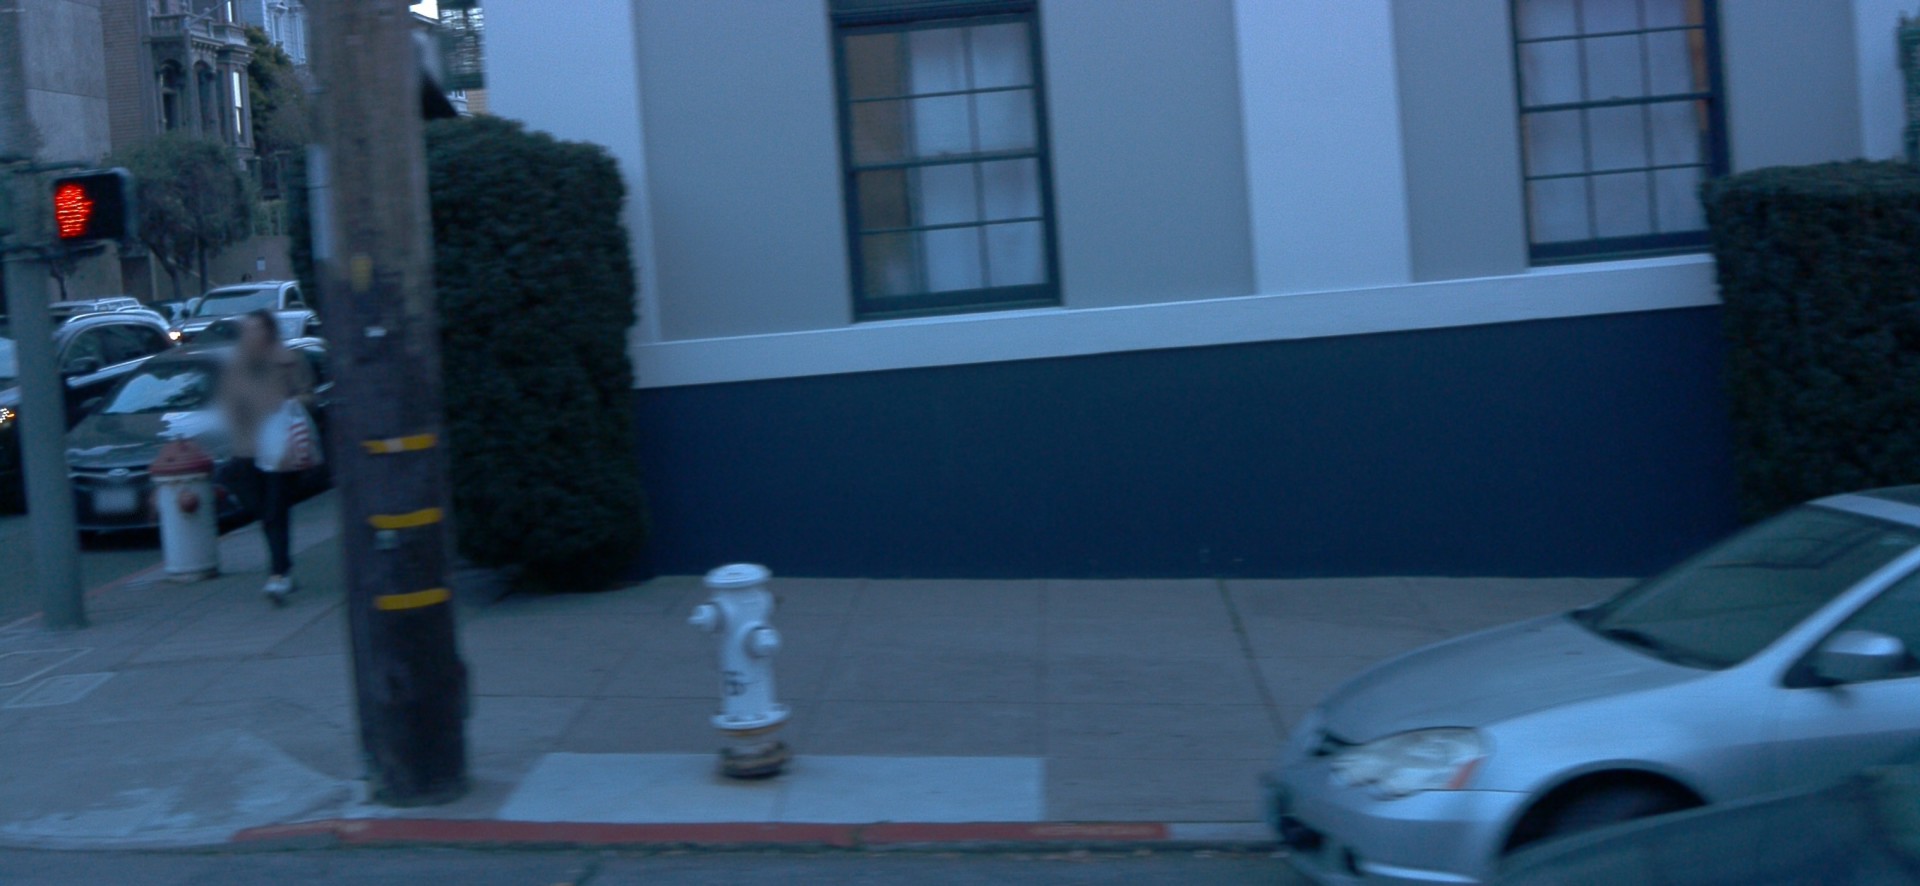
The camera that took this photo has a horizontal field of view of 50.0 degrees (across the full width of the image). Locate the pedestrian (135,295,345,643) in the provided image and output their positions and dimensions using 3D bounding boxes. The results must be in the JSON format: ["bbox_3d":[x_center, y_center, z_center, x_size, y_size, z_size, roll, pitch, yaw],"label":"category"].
[{"bbox_3d":[-4.204,0.111,12.087,0.864,1.899,1.093,1,2,-2],"label":"pedestrian"}]

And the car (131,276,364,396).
[{"bbox_3d":[-12.147,-1.917,35.449,2.208,1.721,5.035,1,6,1],"label":"car"}]
